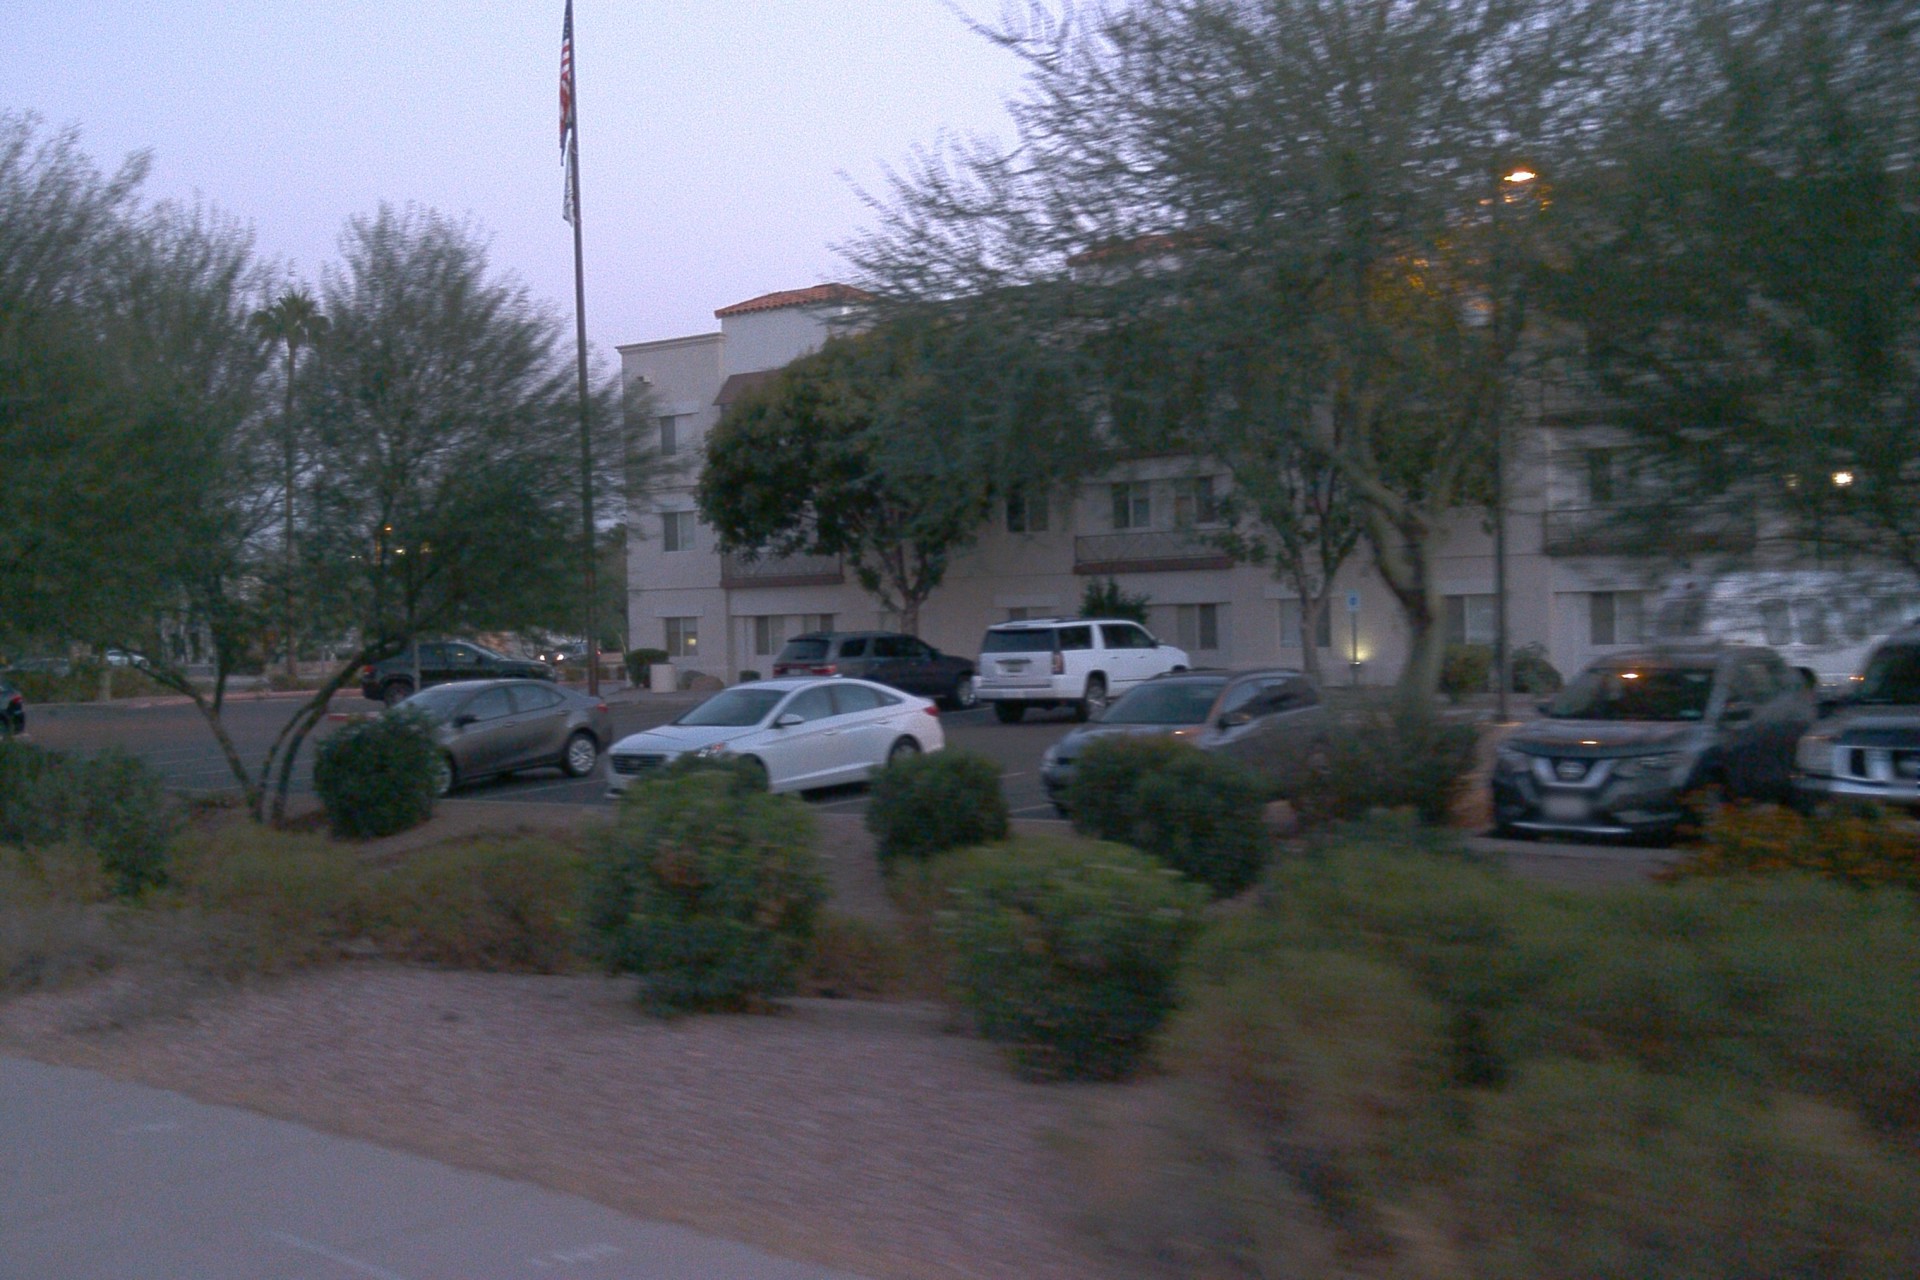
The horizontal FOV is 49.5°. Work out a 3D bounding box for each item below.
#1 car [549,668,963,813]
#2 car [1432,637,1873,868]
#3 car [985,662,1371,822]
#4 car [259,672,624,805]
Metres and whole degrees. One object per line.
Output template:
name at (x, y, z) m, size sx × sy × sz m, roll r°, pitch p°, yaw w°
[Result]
car at (-2.385, 1.161, 25.566) m, size 2.180 × 1.570 × 4.931 m, roll -1°, pitch -1°, yaw 40°
car at (6.316, 0.901, 18.626) m, size 2.176 × 1.780 × 4.806 m, roll -1°, pitch -1°, yaw 39°
car at (2.489, 1.036, 22.784) m, size 2.073 × 1.550 × 4.503 m, roll -1°, pitch -1°, yaw 39°
car at (-7.075, 1.296, 28.856) m, size 2.089 × 1.650 × 4.670 m, roll -1°, pitch -1°, yaw 35°
